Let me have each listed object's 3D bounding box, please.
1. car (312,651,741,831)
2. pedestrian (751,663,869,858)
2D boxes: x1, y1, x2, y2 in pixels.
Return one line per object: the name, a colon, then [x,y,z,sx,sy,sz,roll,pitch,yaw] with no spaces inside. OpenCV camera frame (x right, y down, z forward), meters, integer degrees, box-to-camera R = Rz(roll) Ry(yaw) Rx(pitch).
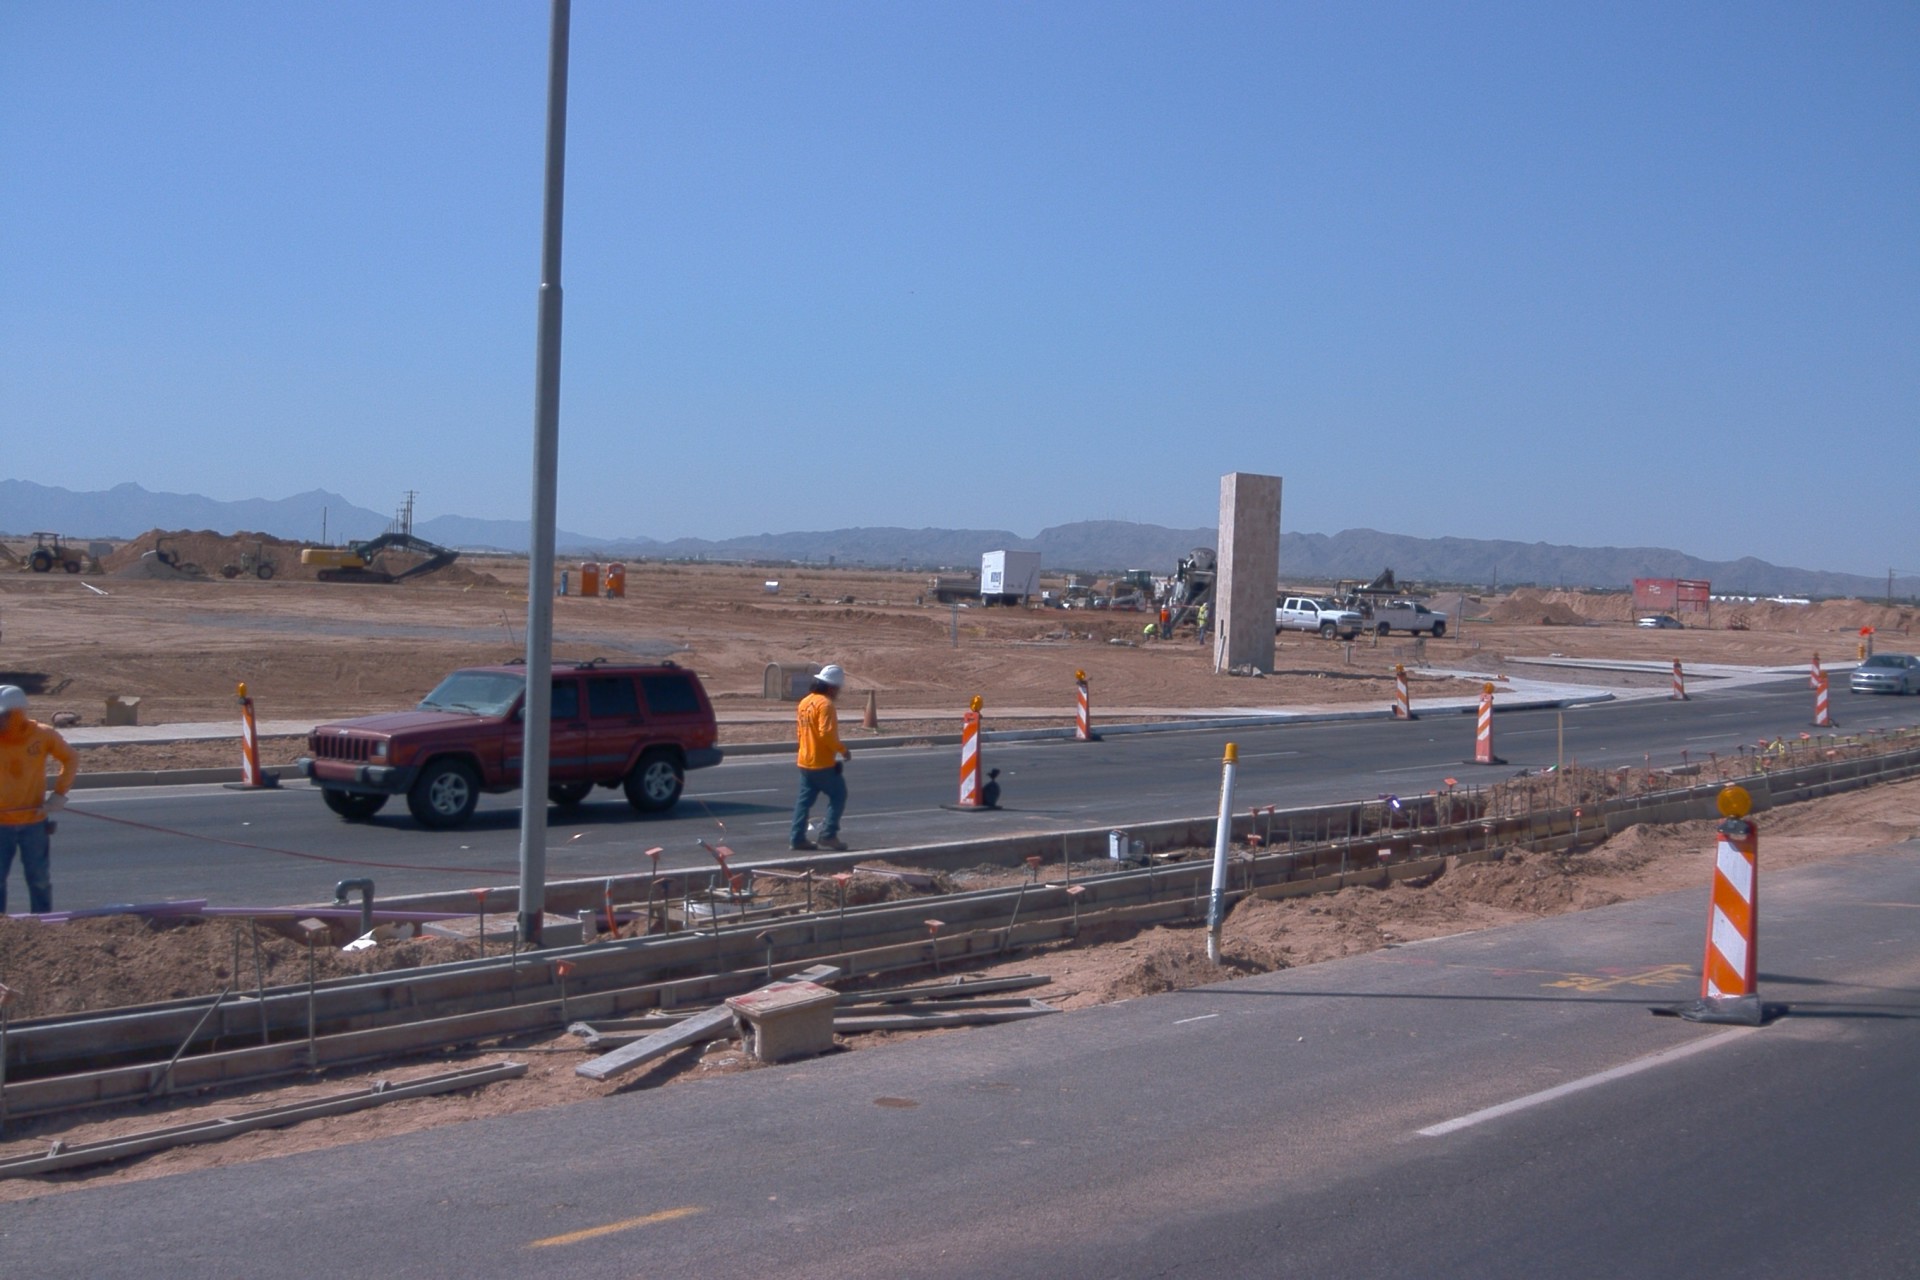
car: [-4.616,1.020,22.680,1.892,1.740,4.240,1,0,42]
pedestrian: [-1.396,1.095,19.361,0.743,1.740,0.859,1,0,-34]
